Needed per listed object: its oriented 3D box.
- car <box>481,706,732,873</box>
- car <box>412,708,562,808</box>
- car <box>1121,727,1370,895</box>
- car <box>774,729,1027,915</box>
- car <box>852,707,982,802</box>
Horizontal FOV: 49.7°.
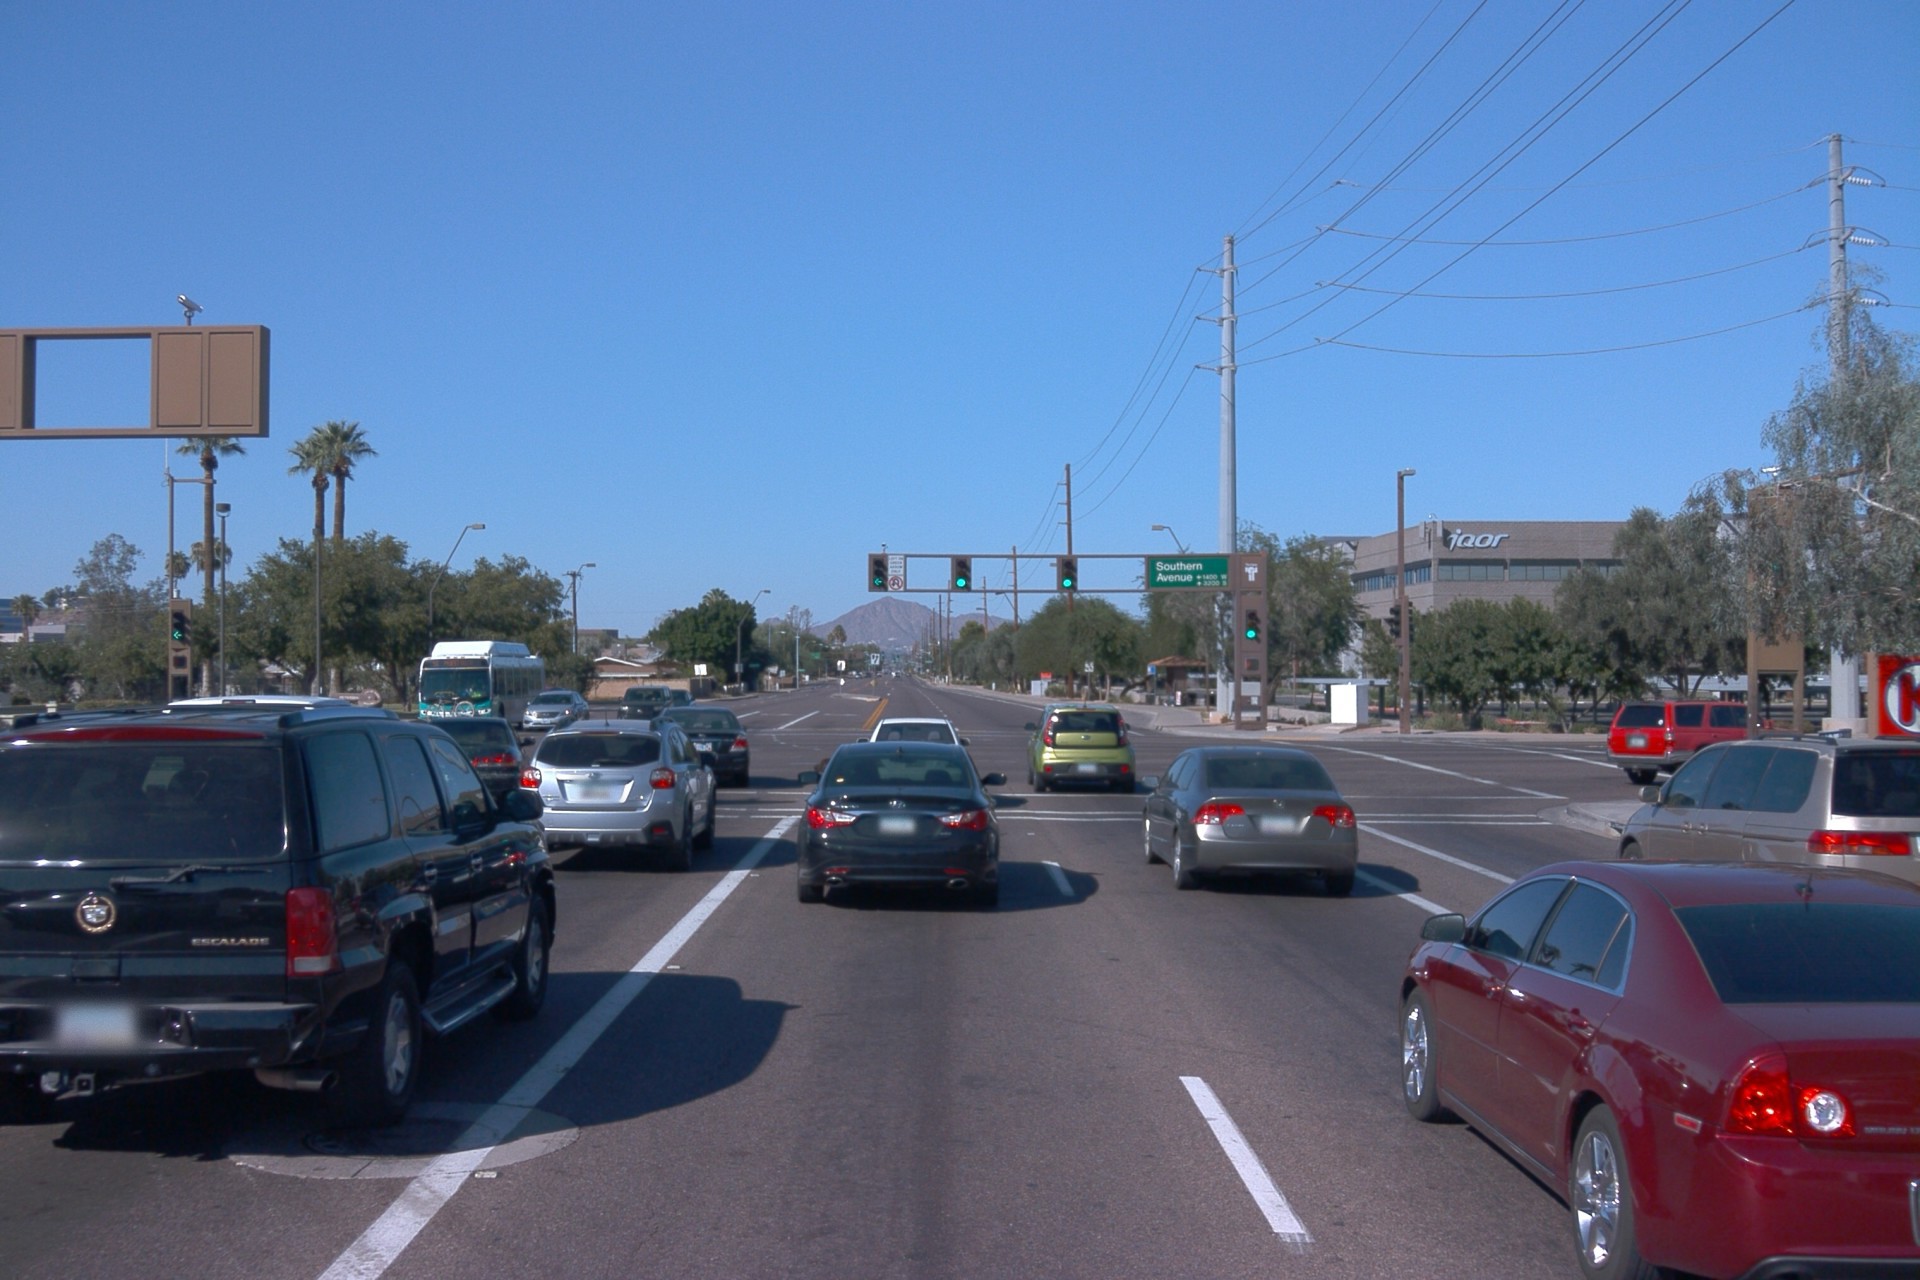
[{"bbox_3d":[-3.812,1.579,23.180,2.077,1.610,4.768,0,-1,-1],"label":"car"},{"bbox_3d":[-7.621,1.826,33.029,2.081,1.400,5.001,1,-1,-16],"label":"car"},{"bbox_3d":[2.906,1.730,22.054,1.907,1.500,4.575,0,-1,-1],"label":"car"},{"bbox_3d":[-0.552,1.663,20.139,2.156,1.470,4.806,0,-1,-1],"label":"car"},{"bbox_3d":[-0.722,1.832,34.198,1.969,1.400,5.048,0,-1,-1],"label":"car"}]
